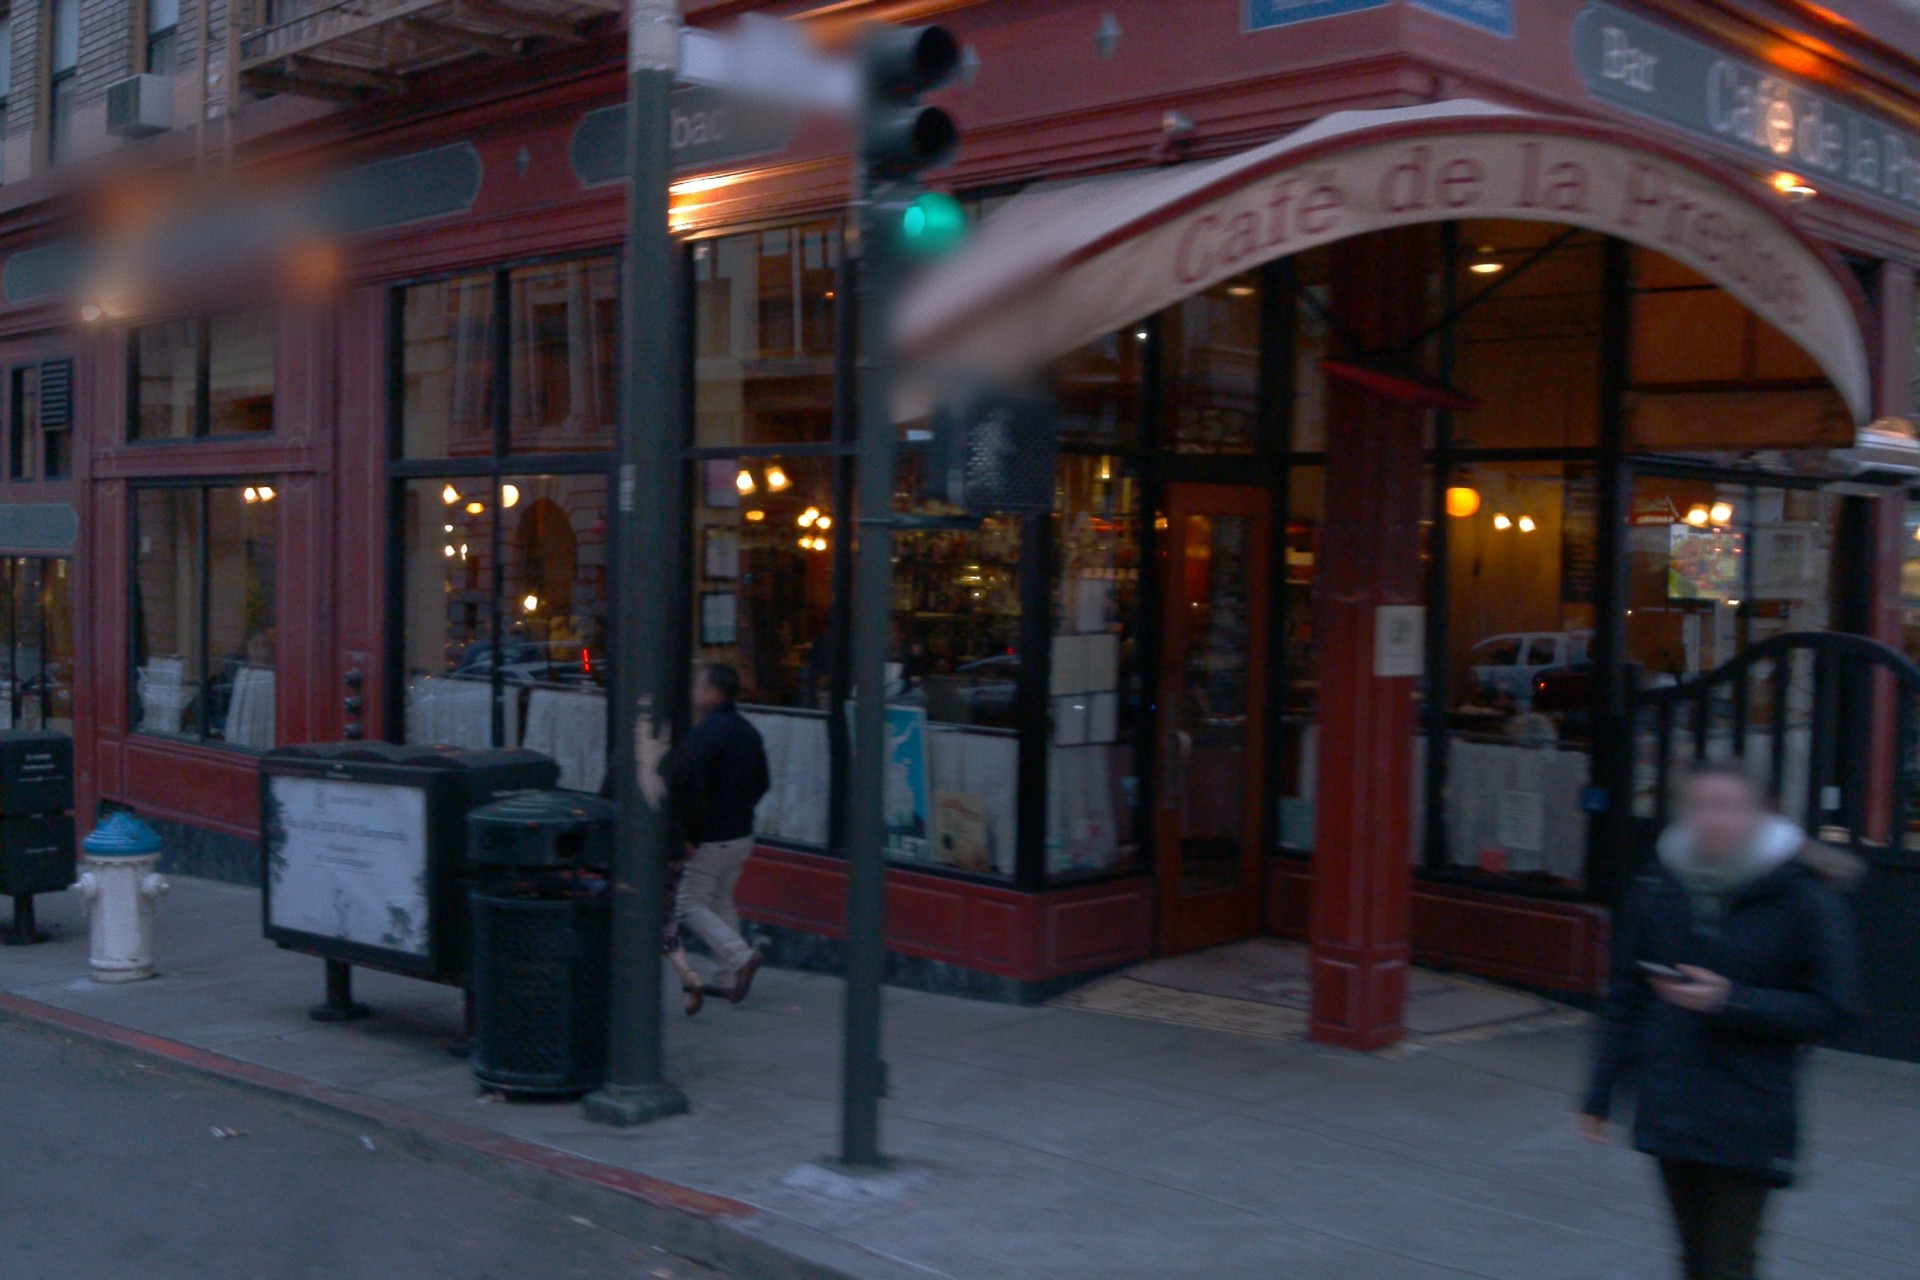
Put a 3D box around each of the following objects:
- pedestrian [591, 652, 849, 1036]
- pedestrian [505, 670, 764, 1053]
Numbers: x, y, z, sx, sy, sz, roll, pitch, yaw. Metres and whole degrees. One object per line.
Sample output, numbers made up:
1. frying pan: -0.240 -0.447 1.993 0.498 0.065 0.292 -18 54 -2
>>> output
1. pedestrian: -1.190 0.953 10.182 0.961 1.765 0.835 0 0 42
2. pedestrian: -1.532 0.982 9.652 0.963 1.655 0.762 0 0 43
